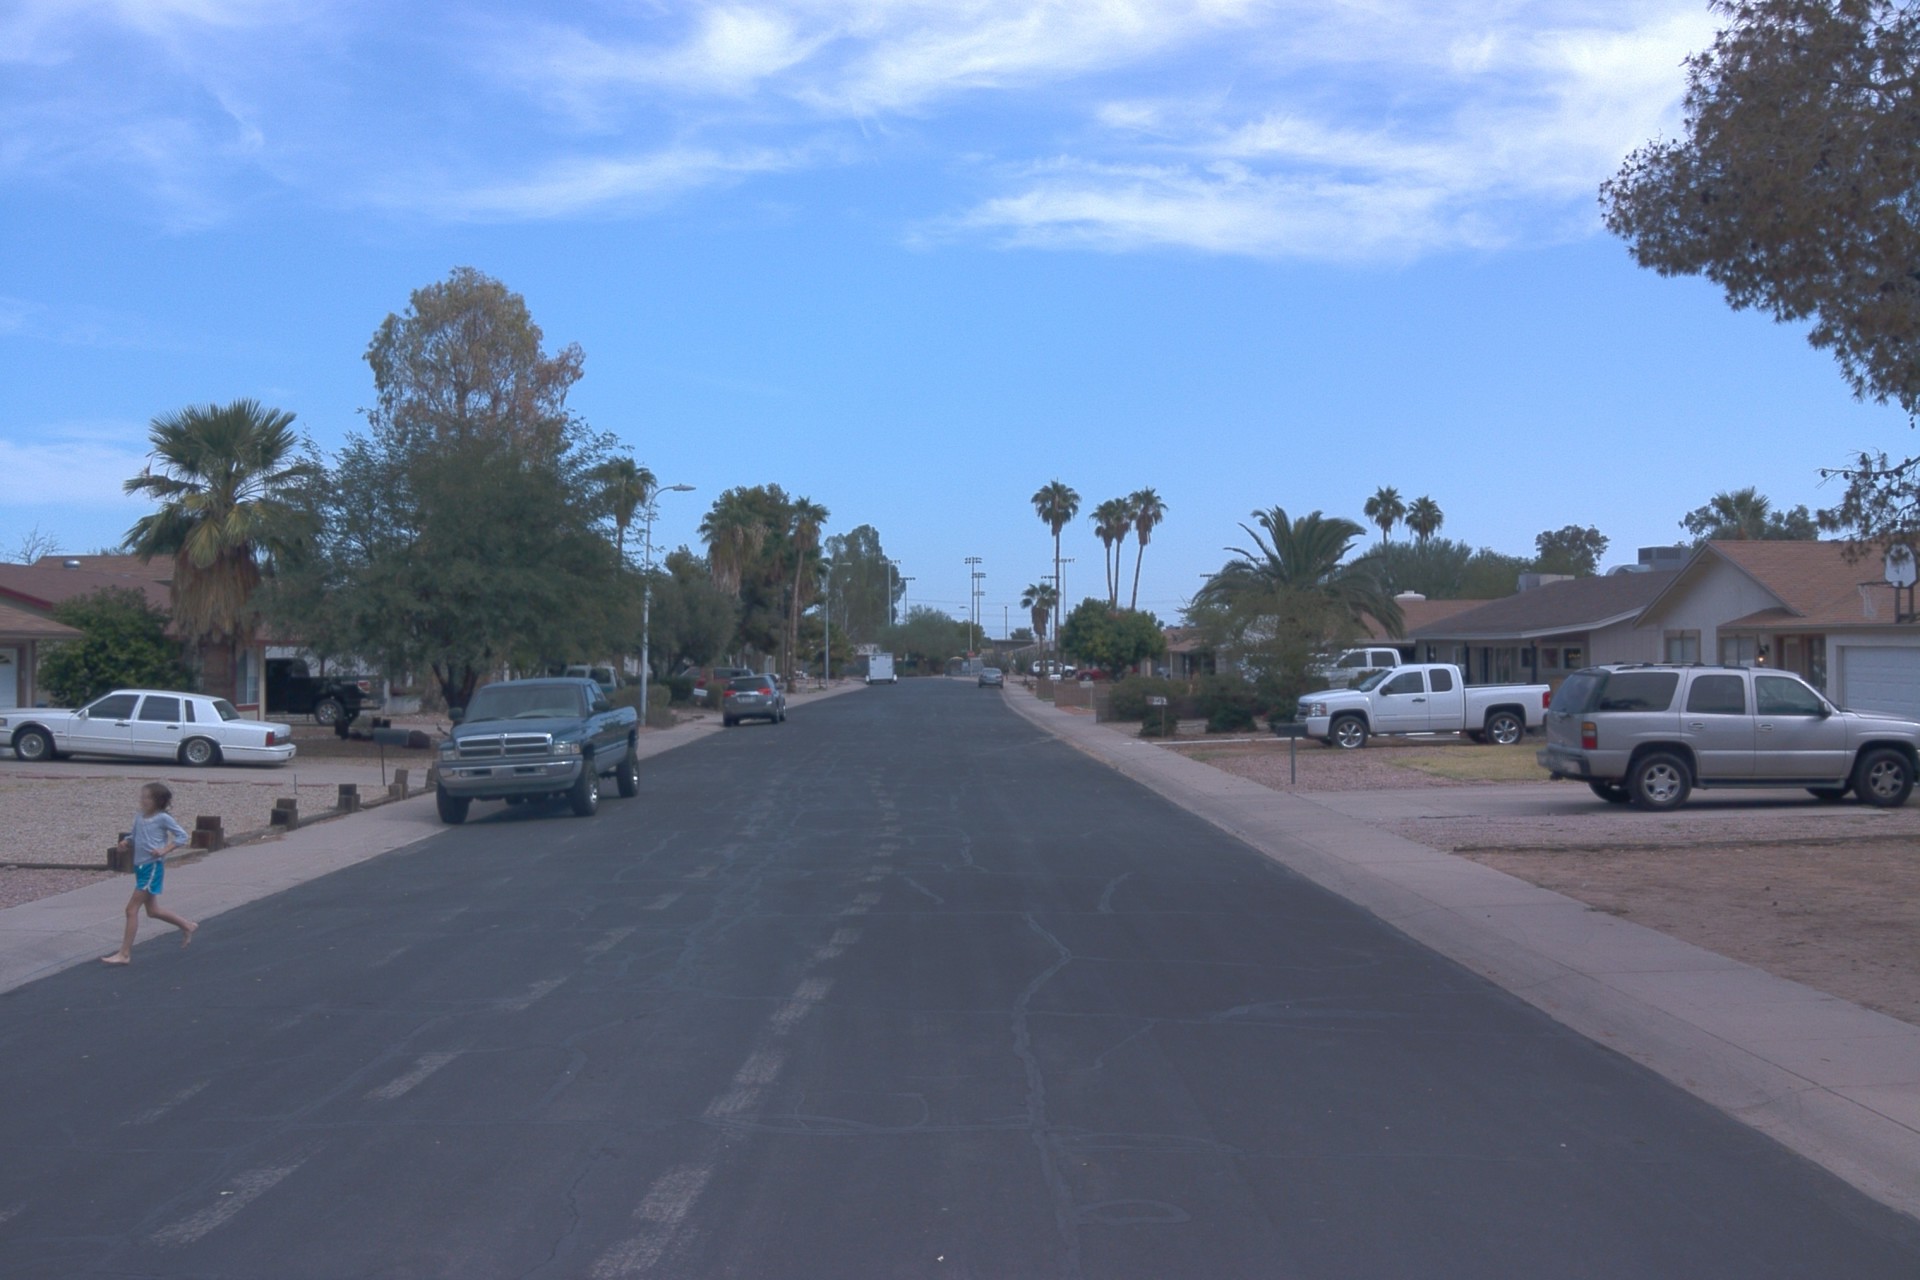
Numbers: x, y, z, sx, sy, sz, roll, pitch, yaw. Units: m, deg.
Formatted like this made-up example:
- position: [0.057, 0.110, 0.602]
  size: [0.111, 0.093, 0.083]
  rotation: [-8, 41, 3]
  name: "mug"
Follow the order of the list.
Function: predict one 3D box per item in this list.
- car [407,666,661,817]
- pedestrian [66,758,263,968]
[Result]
- position: [-6.164, 1.399, 30.876]
  size: [2.461, 1.980, 6.208]
  rotation: [0, -1, 0]
  name: "car"
- position: [-5.912, 1.622, 15.390]
  size: [1.129, 1.420, 0.949]
  rotation: [1, -1, -37]
  name: "pedestrian"
